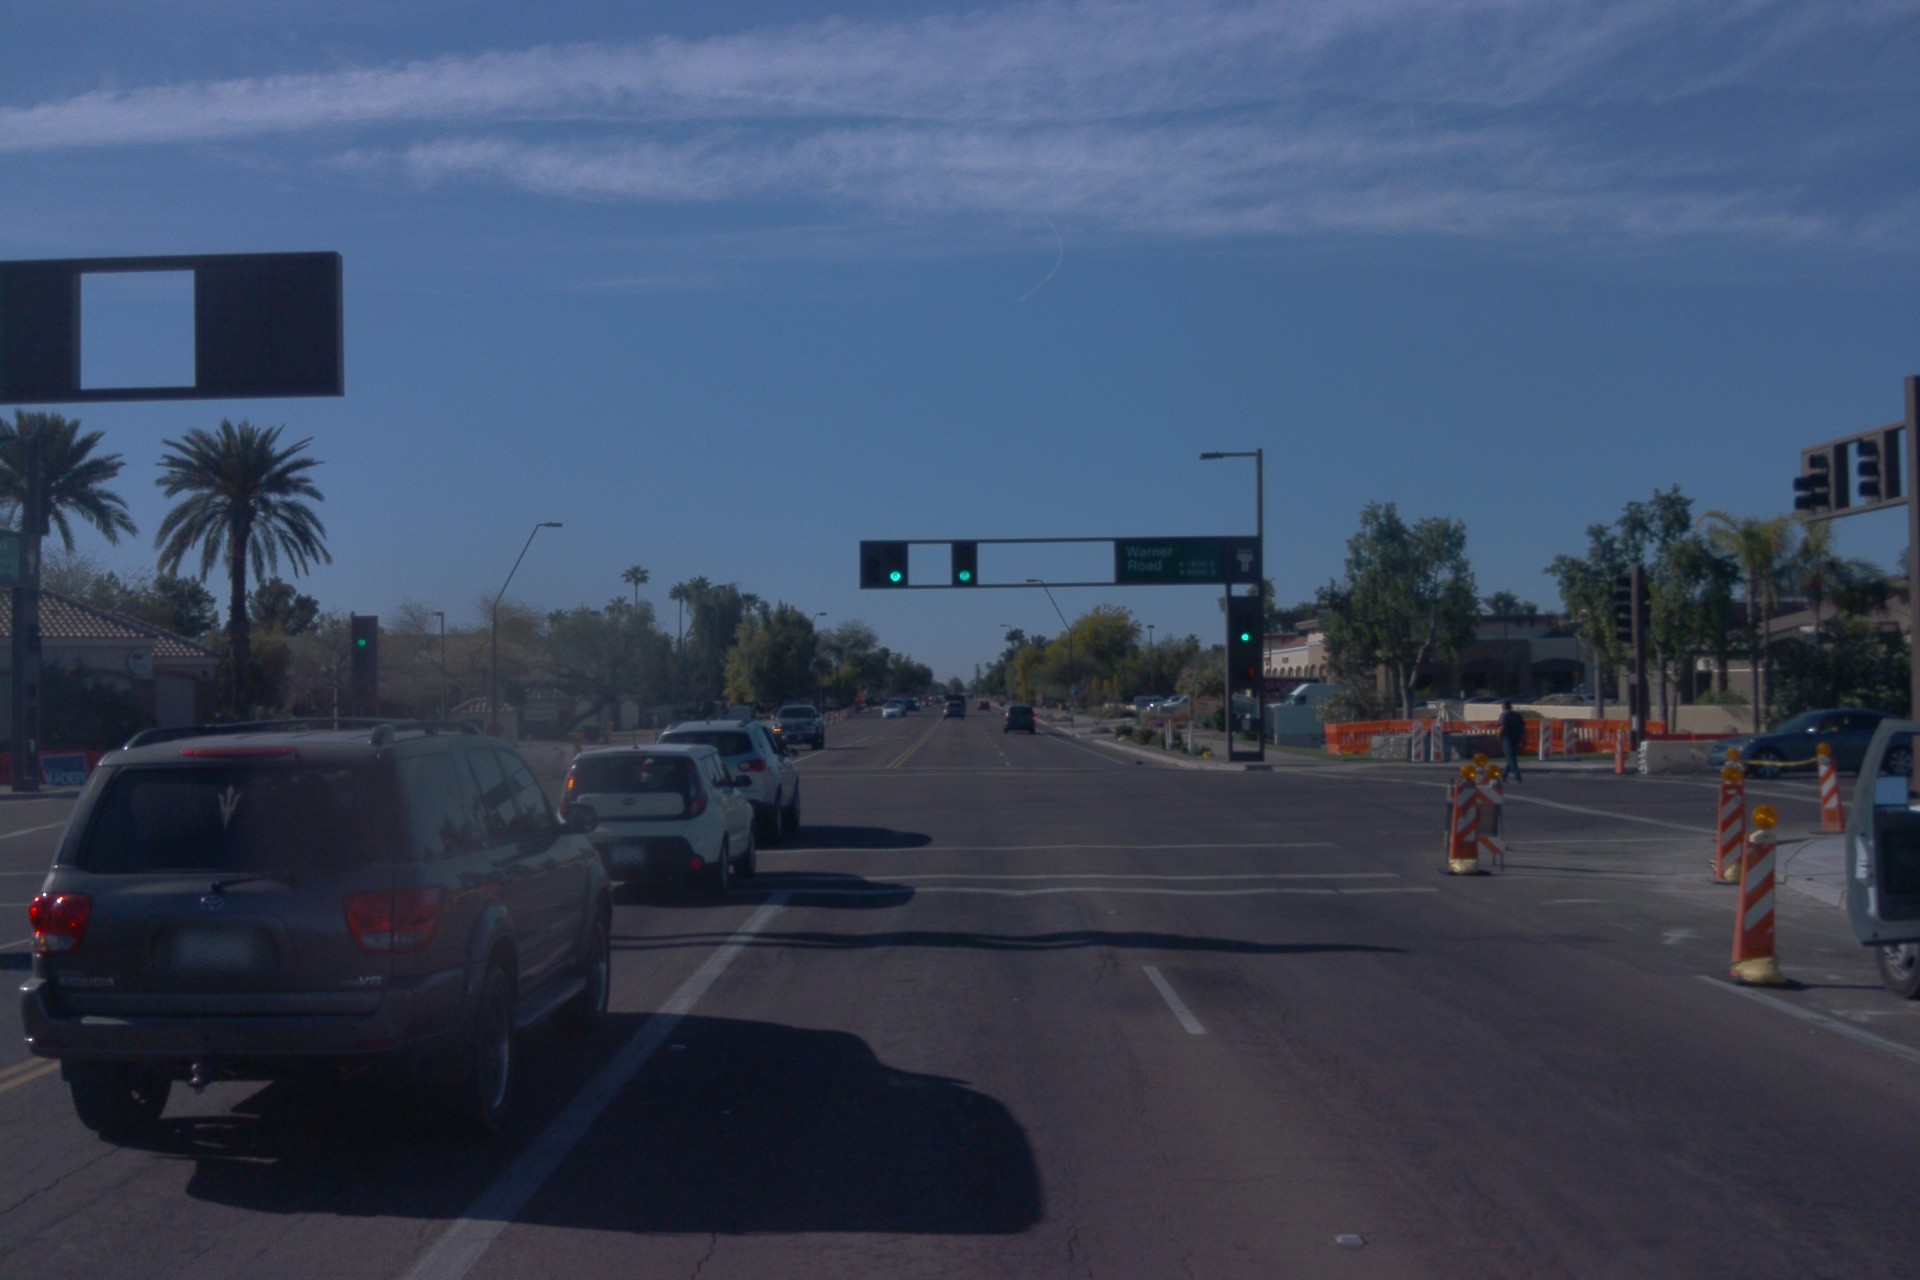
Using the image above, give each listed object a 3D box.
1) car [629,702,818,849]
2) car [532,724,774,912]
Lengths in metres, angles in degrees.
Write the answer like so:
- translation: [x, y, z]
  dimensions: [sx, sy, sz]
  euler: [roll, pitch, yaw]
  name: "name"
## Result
- translation: [-3.424, 1.934, 31.107]
  dimensions: [2.259, 1.970, 4.993]
  euler: [0, -1, 0]
  name: "car"
- translation: [-3.245, 1.854, 22.879]
  dimensions: [2.020, 1.780, 4.419]
  euler: [0, -1, 0]
  name: "car"
